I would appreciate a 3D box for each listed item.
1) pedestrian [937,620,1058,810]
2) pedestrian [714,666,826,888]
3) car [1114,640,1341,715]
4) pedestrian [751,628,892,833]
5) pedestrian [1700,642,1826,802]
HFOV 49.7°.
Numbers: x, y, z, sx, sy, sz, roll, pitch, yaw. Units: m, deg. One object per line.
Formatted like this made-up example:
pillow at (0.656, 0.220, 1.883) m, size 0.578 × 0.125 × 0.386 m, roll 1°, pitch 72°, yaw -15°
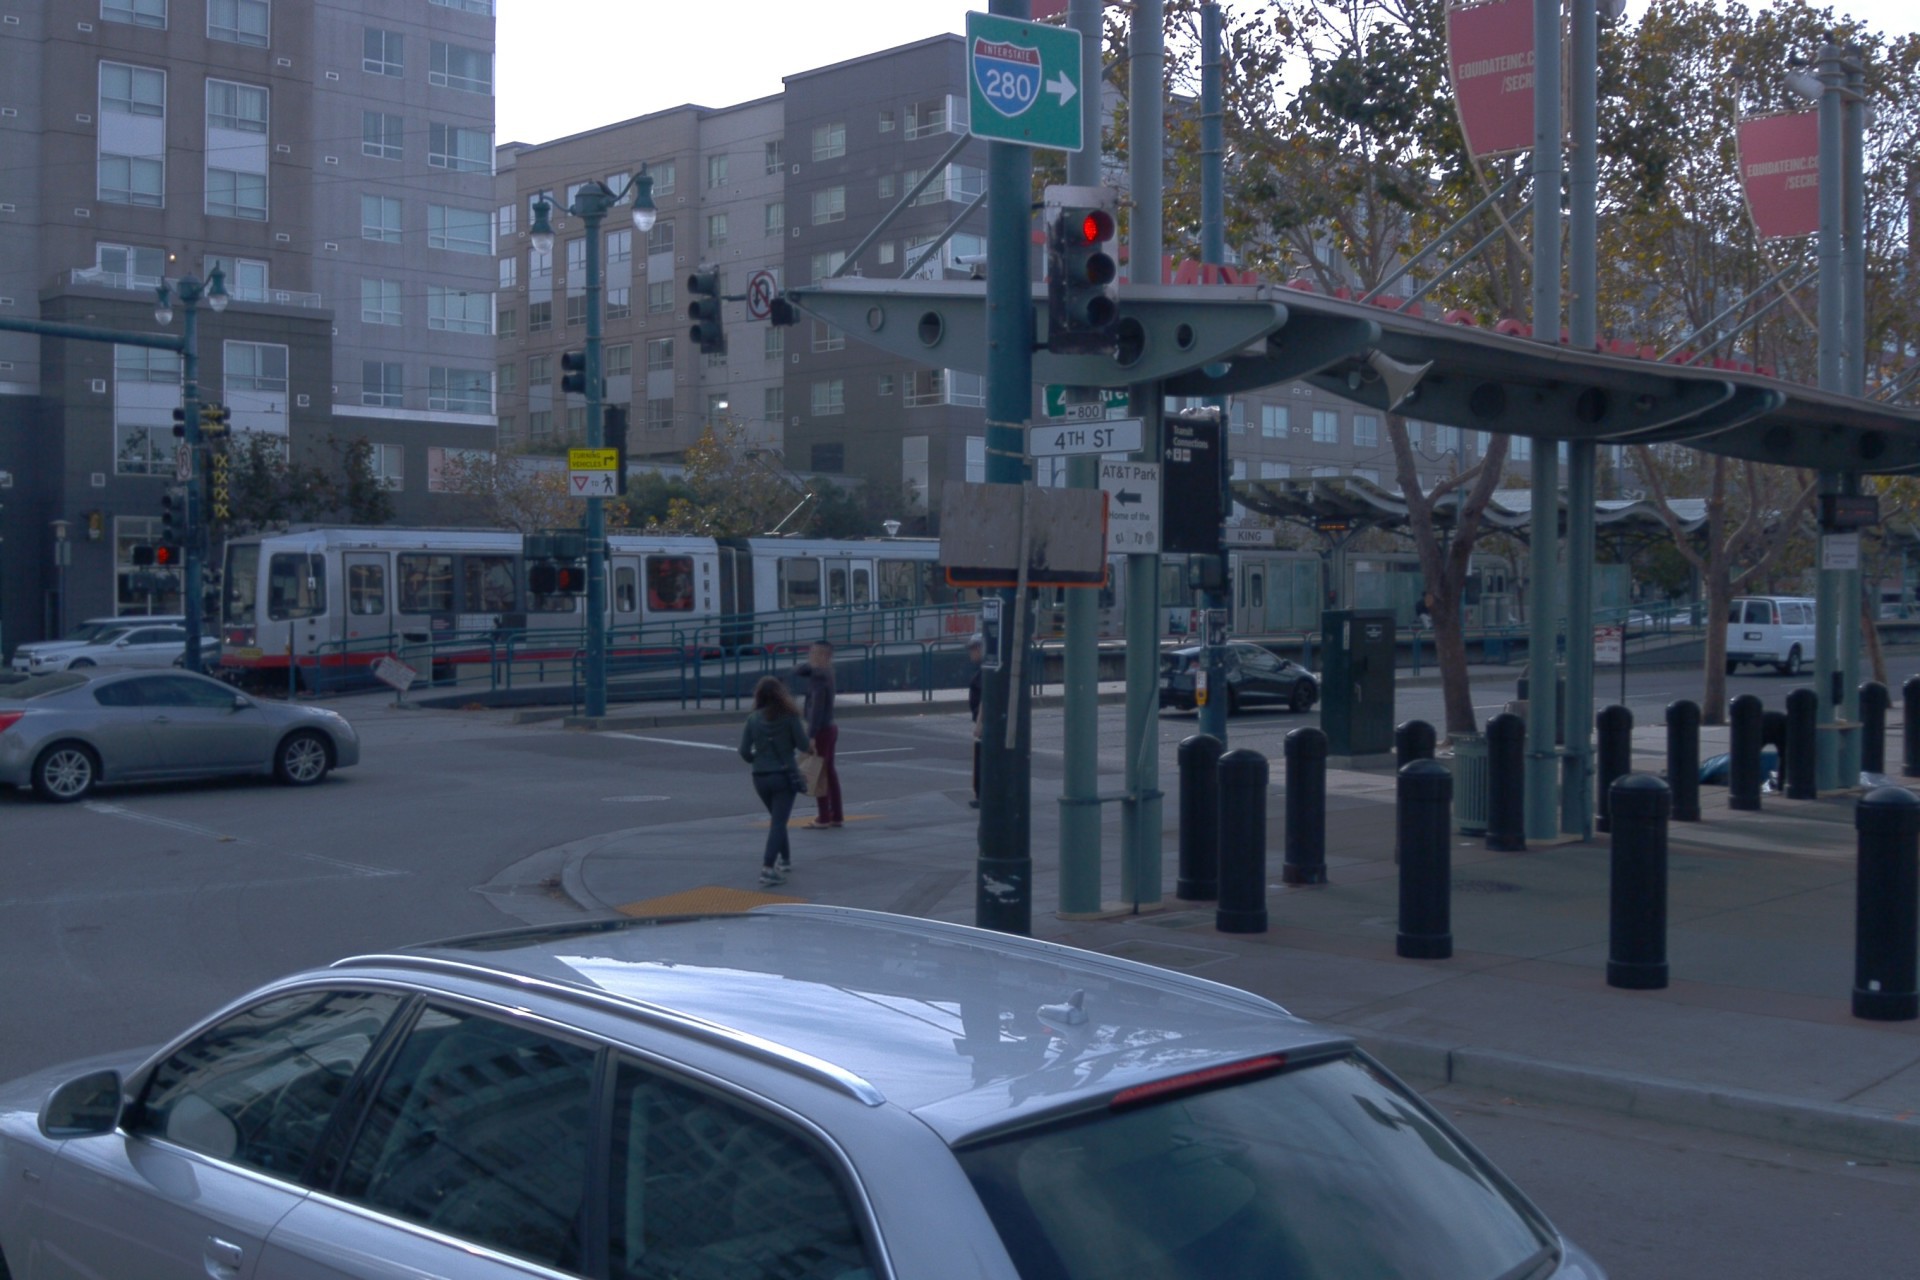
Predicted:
pedestrian at (0.381, 0.735, 20.824) m, size 0.867 × 1.858 × 0.865 m, roll 1°, pitch 0°, yaw 31°
pedestrian at (-1.460, 1.035, 16.062) m, size 0.678 × 1.642 × 1.016 m, roll 1°, pitch 0°, yaw 4°
car at (4.900, 0.666, 37.620) m, size 4.103 × 1.278 × 1.973 m, roll 1°, pitch 0°, yaw -45°
pedestrian at (-1.266, 0.809, 19.051) m, size 0.980 × 1.819 × 0.928 m, roll 1°, pitch 0°, yaw 20°
pedestrian at (8.407, 0.831, 21.671) m, size 1.169 × 1.605 × 1.218 m, roll 1°, pitch 0°, yaw 22°
